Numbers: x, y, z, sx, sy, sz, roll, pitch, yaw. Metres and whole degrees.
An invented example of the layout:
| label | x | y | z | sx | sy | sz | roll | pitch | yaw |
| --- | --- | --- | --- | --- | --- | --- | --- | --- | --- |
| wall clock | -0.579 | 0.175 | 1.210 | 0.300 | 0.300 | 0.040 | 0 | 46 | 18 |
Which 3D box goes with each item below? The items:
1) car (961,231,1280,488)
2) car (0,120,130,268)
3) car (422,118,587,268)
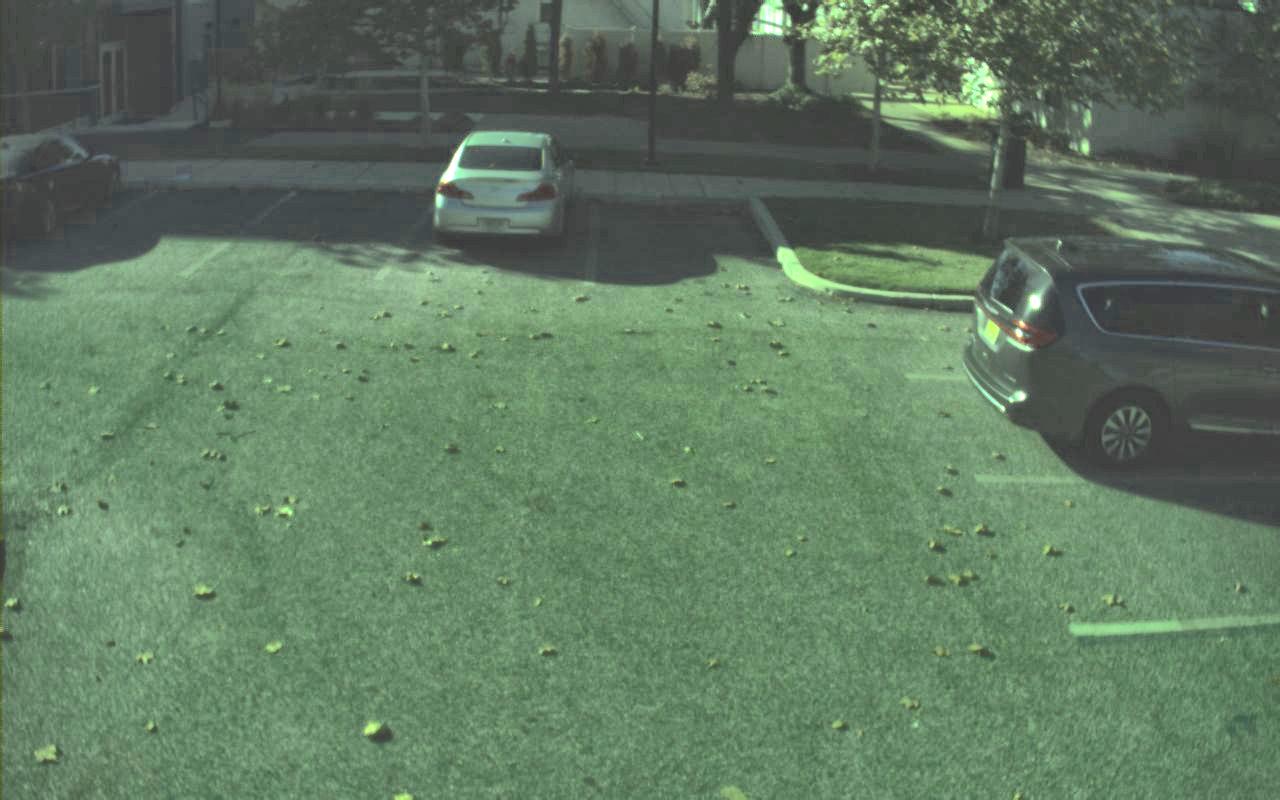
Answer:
| label | x | y | z | sx | sy | sz | roll | pitch | yaw |
| --- | --- | --- | --- | --- | --- | --- | --- | --- | --- |
| car | 5.245 | -0.476 | 10.514 | 4.406 | 1.740 | 1.960 | -2 | 16 | -2 |
| car | -9.764 | -3.331 | 17.792 | 1.978 | 1.596 | 4.579 | -2 | 17 | -3 |
| car | -1.825 | -3.099 | 18.013 | 1.898 | 1.553 | 4.378 | -1 | 17 | 0 |
